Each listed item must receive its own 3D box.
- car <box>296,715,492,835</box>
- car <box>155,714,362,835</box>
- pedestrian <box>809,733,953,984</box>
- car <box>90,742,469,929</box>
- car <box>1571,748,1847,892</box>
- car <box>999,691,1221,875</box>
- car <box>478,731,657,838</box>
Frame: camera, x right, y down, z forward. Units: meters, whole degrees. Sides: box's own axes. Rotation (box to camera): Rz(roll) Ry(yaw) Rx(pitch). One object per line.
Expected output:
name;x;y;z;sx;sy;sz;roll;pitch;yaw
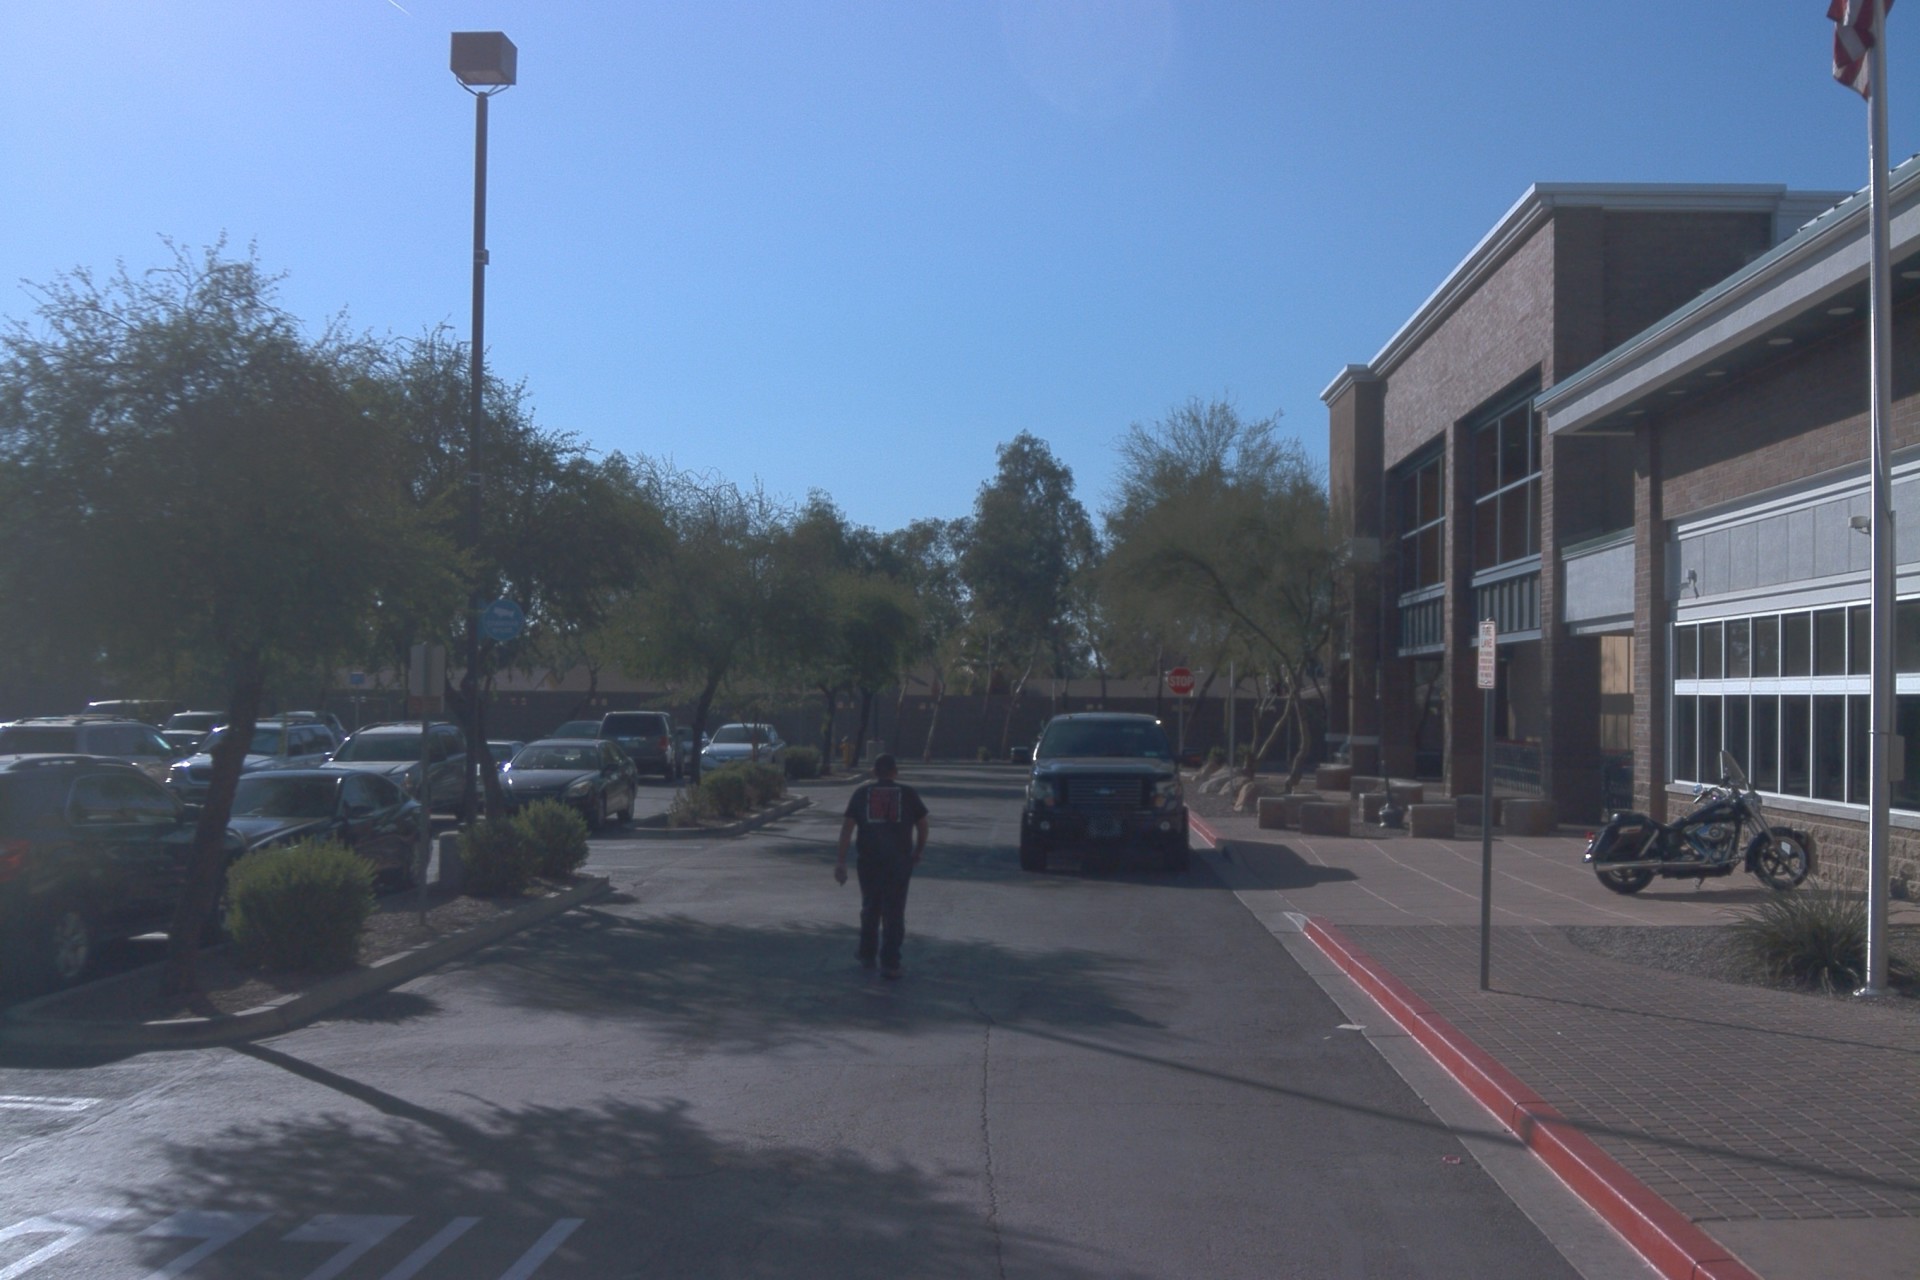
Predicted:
car;-9.418;2.201;34.895;1.886;1.820;4.570;-1;-1;2
car;-11.829;2.222;35.321;1.922;1.860;4.555;-1;-1;1
pedestrian;-0.606;1.681;16.314;1.076;1.870;1.183;-1;-1;-1
car;-7.085;1.986;22.287;2.211;1.640;5.024;-1;-1;3
car;7.782;1.869;21.680;2.509;1.430;1.043;-1;-1;6
car;1.930;1.797;27.848;2.655;2.190;5.664;-1;-1;3
car;-6.488;2.367;34.833;1.931;1.560;4.778;-1;-1;2
